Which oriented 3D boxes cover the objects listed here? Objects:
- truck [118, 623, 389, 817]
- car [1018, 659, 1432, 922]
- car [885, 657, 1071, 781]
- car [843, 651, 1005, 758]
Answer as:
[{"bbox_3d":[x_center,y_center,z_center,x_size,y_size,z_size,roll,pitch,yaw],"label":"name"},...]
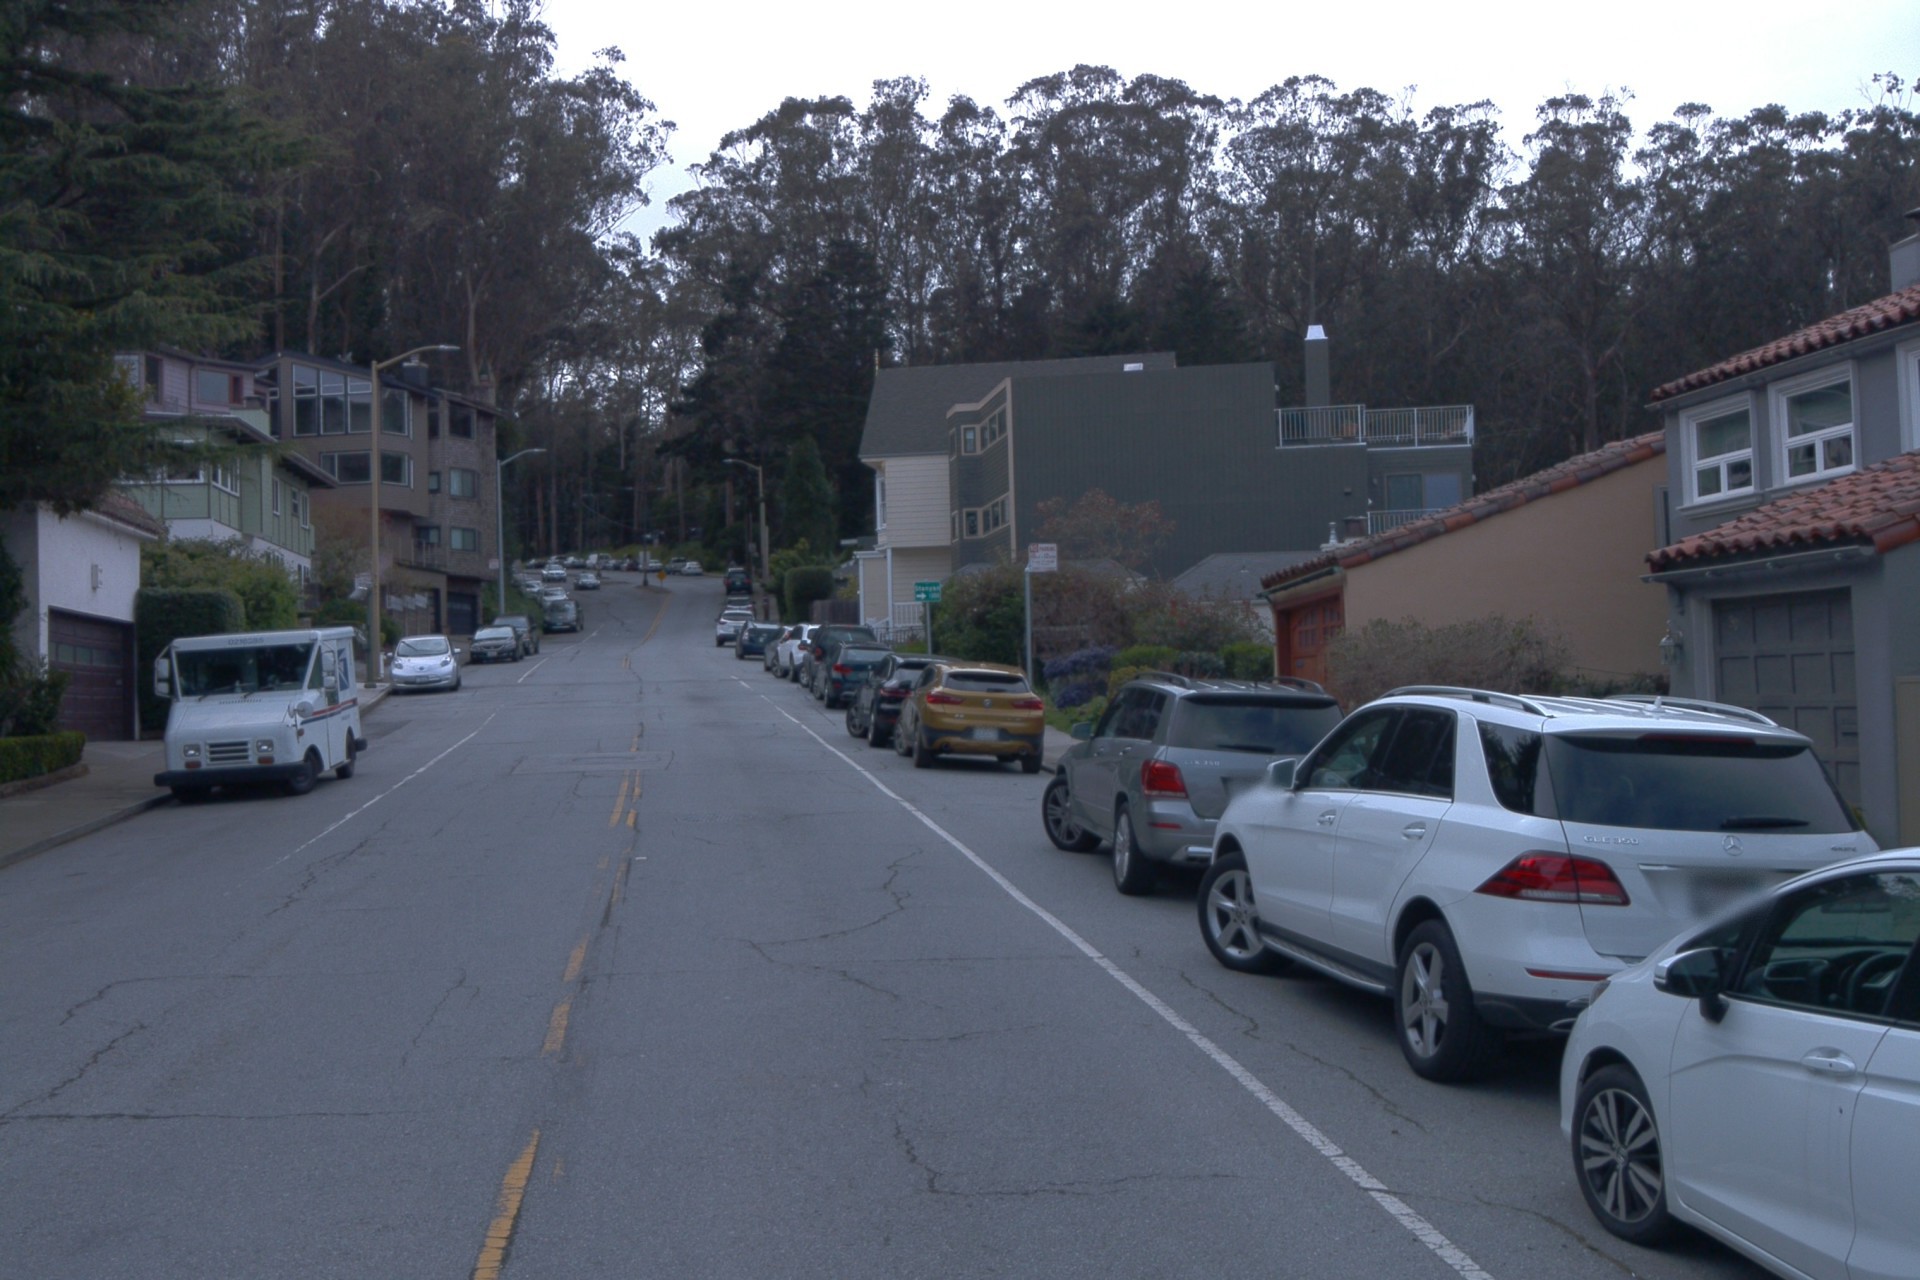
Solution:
[{"bbox_3d":[-9.290,0.951,27.493,2.466,2.340,4.637,0,1,-6],"label":"truck"},{"bbox_3d":[1.983,1.094,17.104,2.240,1.750,4.794,0,1,-8],"label":"car"},{"bbox_3d":[0.174,1.104,30.525,2.196,1.600,4.510,0,1,-7],"label":"car"},{"bbox_3d":[-0.709,1.058,35.685,2.322,1.630,4.756,0,1,-7],"label":"car"}]
